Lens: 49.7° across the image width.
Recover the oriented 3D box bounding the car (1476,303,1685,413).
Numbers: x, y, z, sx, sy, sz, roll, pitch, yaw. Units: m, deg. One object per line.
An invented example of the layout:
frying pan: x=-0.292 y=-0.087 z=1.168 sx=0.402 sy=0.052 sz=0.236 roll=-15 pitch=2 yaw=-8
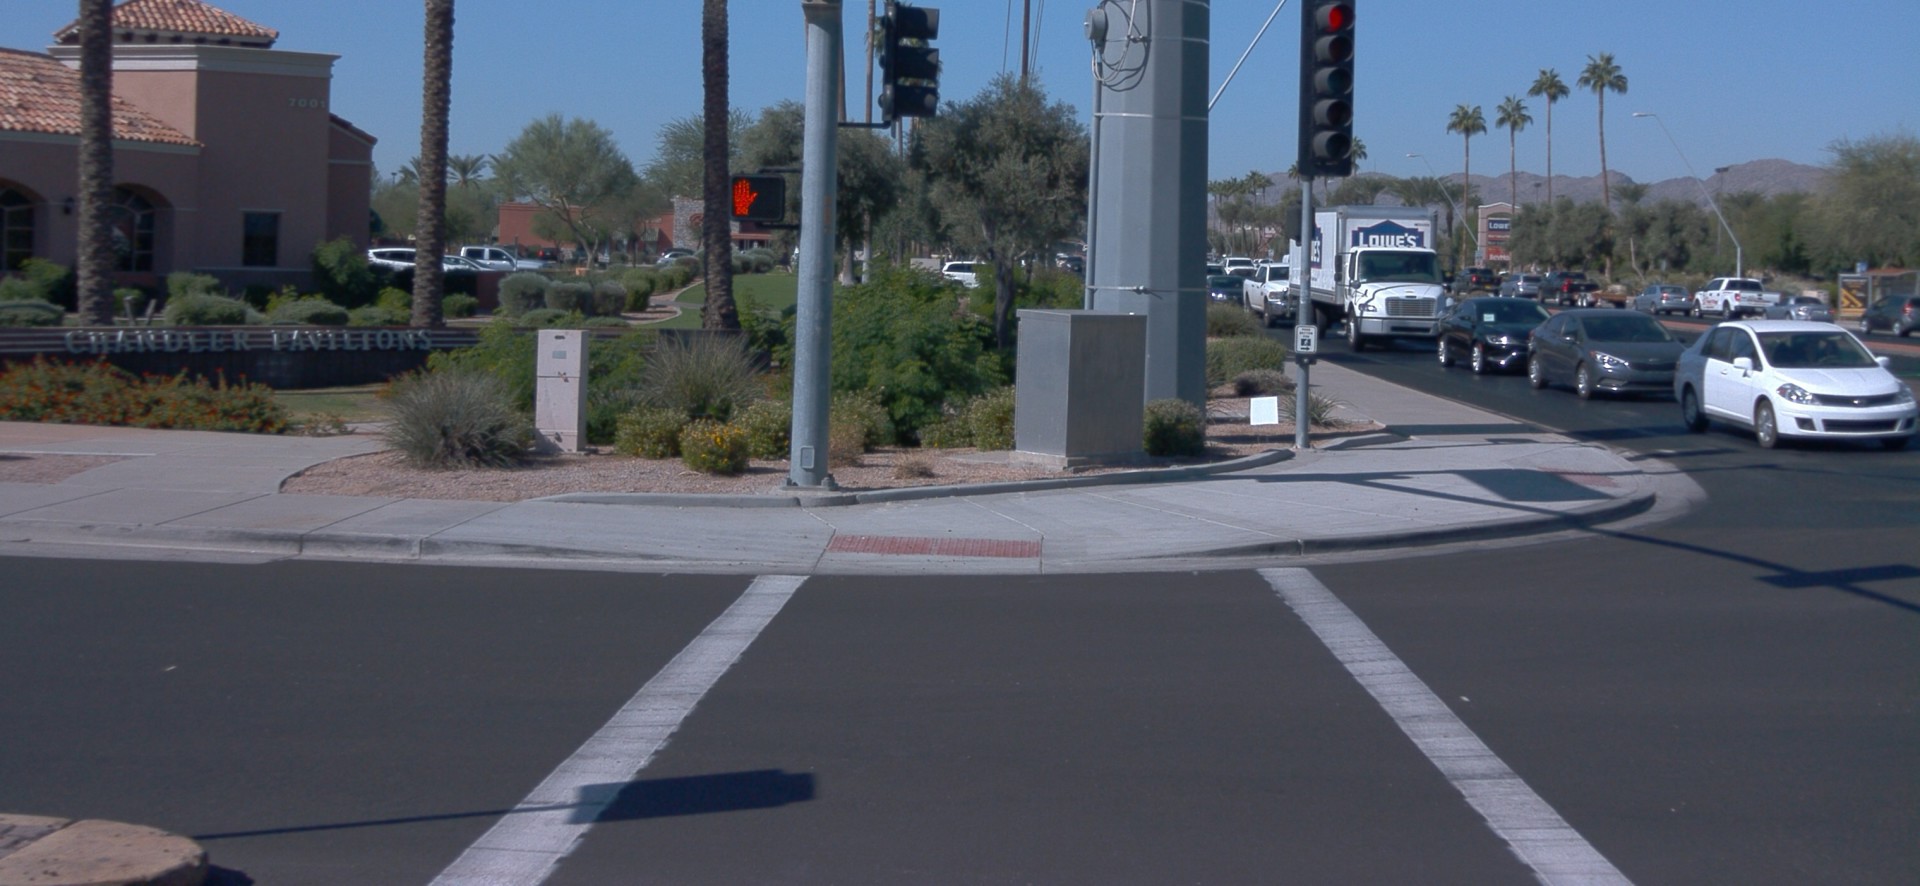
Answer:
car: x=10.359 y=-1.493 z=35.007 sx=2.101 sy=1.513 sz=4.446 roll=1 pitch=6 yaw=-1

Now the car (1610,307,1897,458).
car: x=10.096 y=-0.860 z=26.809 sx=1.976 sy=1.563 sz=4.483 roll=1 pitch=6 yaw=0
